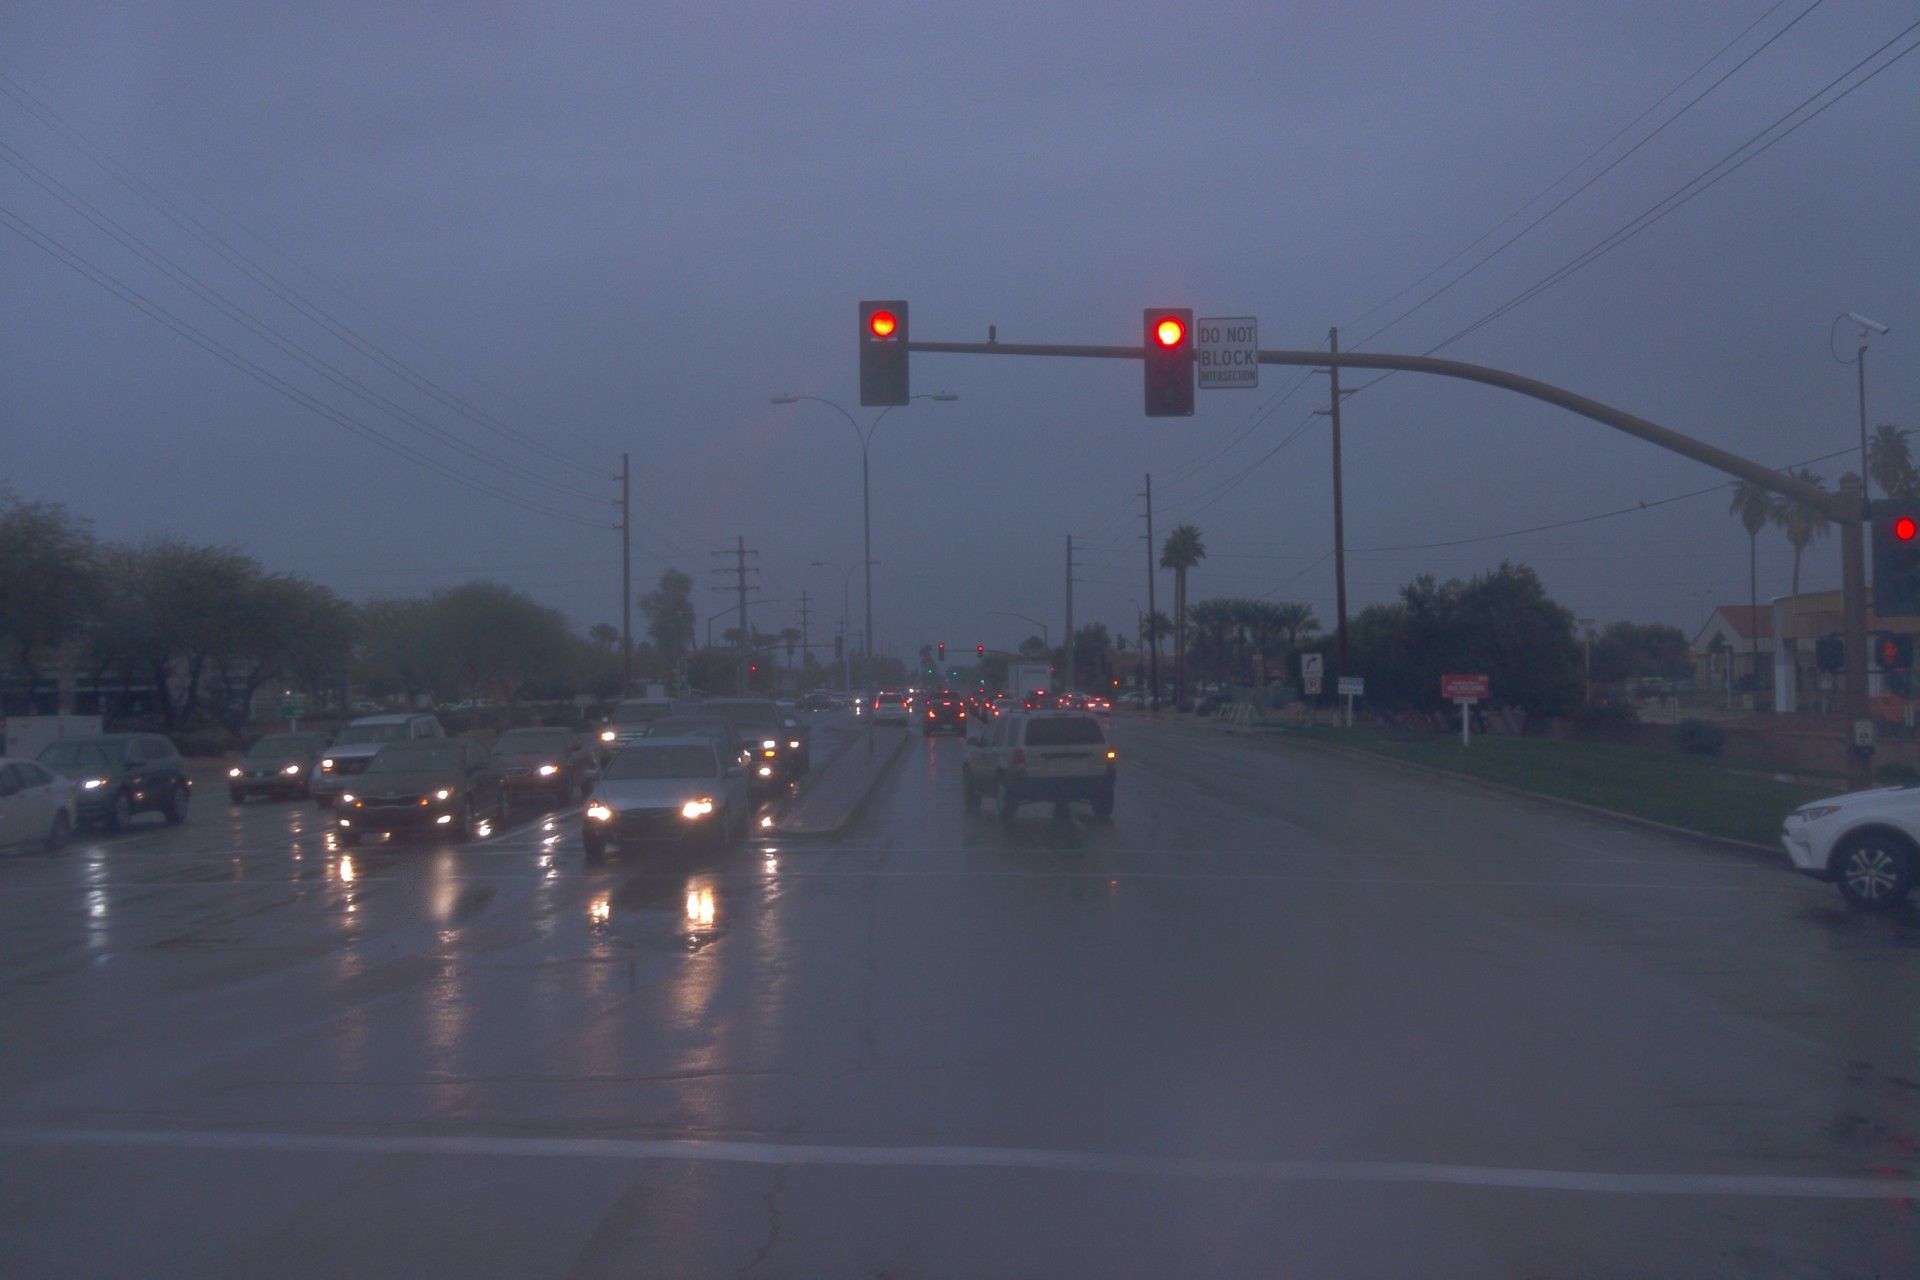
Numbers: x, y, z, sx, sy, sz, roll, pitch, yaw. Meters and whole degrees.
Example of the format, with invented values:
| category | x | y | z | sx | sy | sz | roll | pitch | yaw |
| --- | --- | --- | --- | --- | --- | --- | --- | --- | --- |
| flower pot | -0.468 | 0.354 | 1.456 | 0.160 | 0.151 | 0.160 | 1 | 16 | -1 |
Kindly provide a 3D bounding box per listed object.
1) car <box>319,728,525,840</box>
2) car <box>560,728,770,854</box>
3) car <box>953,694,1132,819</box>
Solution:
| category | x | y | z | sx | sy | sz | roll | pitch | yaw |
| --- | --- | --- | --- | --- | --- | --- | --- | --- | --- |
| car | -8.040 | 2.116 | 31.497 | 2.042 | 1.440 | 4.763 | 0 | -1 | -2 |
| car | -3.794 | 1.933 | 27.539 | 2.102 | 1.410 | 4.605 | 0 | -1 | 1 |
| car | 1.264 | 1.830 | 34.004 | 2.003 | 1.870 | 4.411 | 0 | -1 | -10 |
